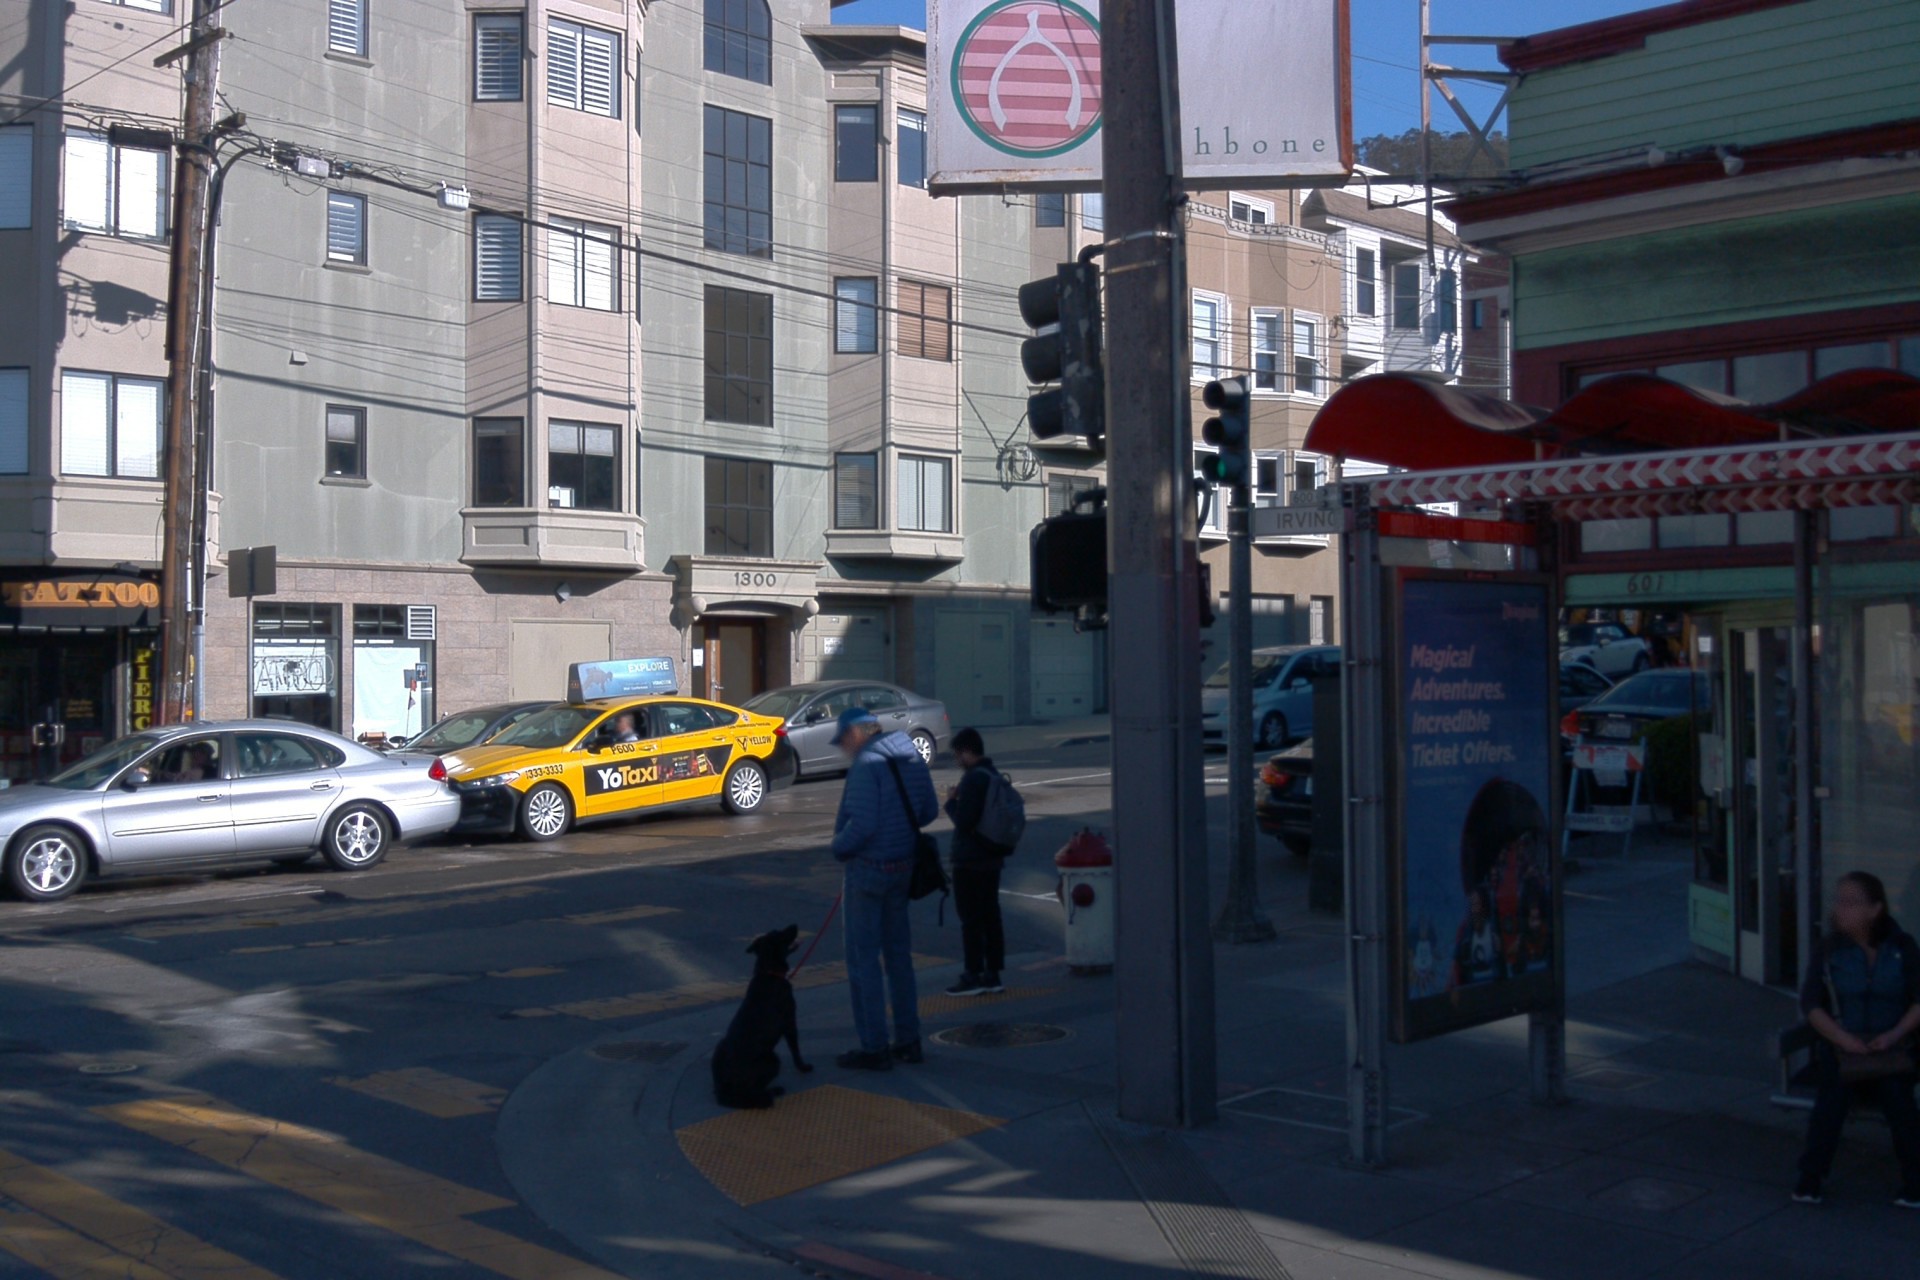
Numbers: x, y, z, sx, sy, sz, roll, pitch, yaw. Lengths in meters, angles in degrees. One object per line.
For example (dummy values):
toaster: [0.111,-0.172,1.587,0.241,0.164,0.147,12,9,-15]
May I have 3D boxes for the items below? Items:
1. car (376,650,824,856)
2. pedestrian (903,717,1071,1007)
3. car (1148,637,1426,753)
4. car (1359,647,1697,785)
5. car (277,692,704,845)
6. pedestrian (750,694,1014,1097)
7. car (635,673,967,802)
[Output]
car: [-4.002,1.182,23.976,2.070,2.100,4.772,1,0,42]
pedestrian: [0.167,1.344,13.044,0.687,1.700,0.778,0,0,-43]
car: [5.140,0.817,32.541,4.554,1.680,1.896,1,0,-44]
car: [7.389,0.915,26.958,2.077,1.590,4.904,0,0,44]
car: [-5.778,1.519,26.271,2.149,1.660,4.833,0,0,44]
pedestrian: [-0.385,1.214,10.470,0.894,1.860,0.955,1,0,41]
car: [-2.217,1.325,30.143,2.102,1.670,4.524,0,0,43]
